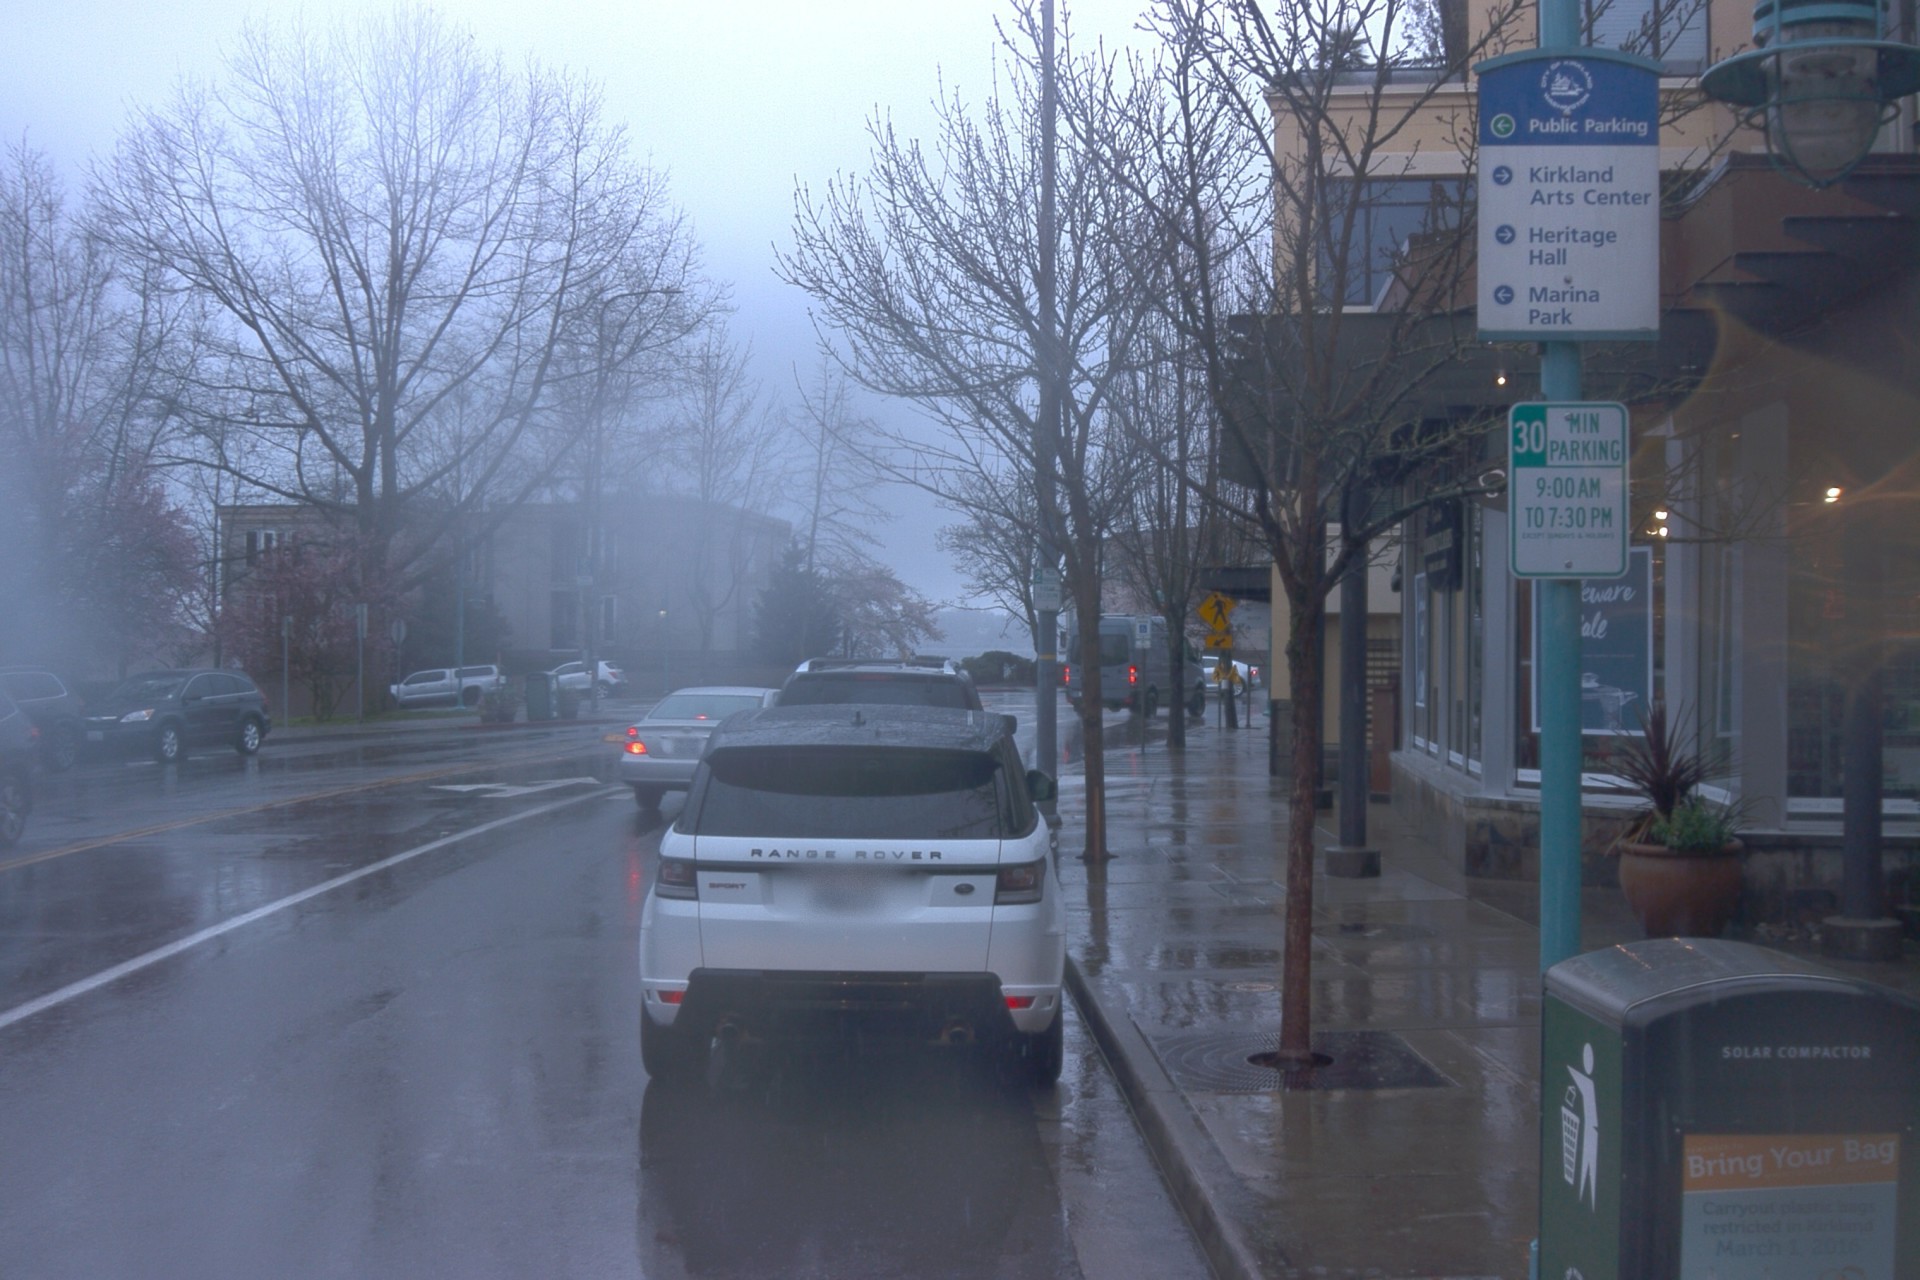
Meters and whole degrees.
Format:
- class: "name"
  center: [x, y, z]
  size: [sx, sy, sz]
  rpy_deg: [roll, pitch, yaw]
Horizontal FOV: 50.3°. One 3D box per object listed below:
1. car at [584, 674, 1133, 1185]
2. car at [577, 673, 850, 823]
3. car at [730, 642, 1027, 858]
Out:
- class: "car"
  center: [-0.520, 1.261, 11.131]
  size: [2.265, 2.000, 5.125]
  rpy_deg: [1, 0, -2]
- class: "car"
  center: [-2.970, 1.271, 25.830]
  size: [2.046, 1.580, 4.852]
  rpy_deg: [1, 0, 10]
- class: "car"
  center: [-0.713, 0.832, 17.965]
  size: [2.210, 1.560, 5.097]
  rpy_deg: [1, 0, -2]
